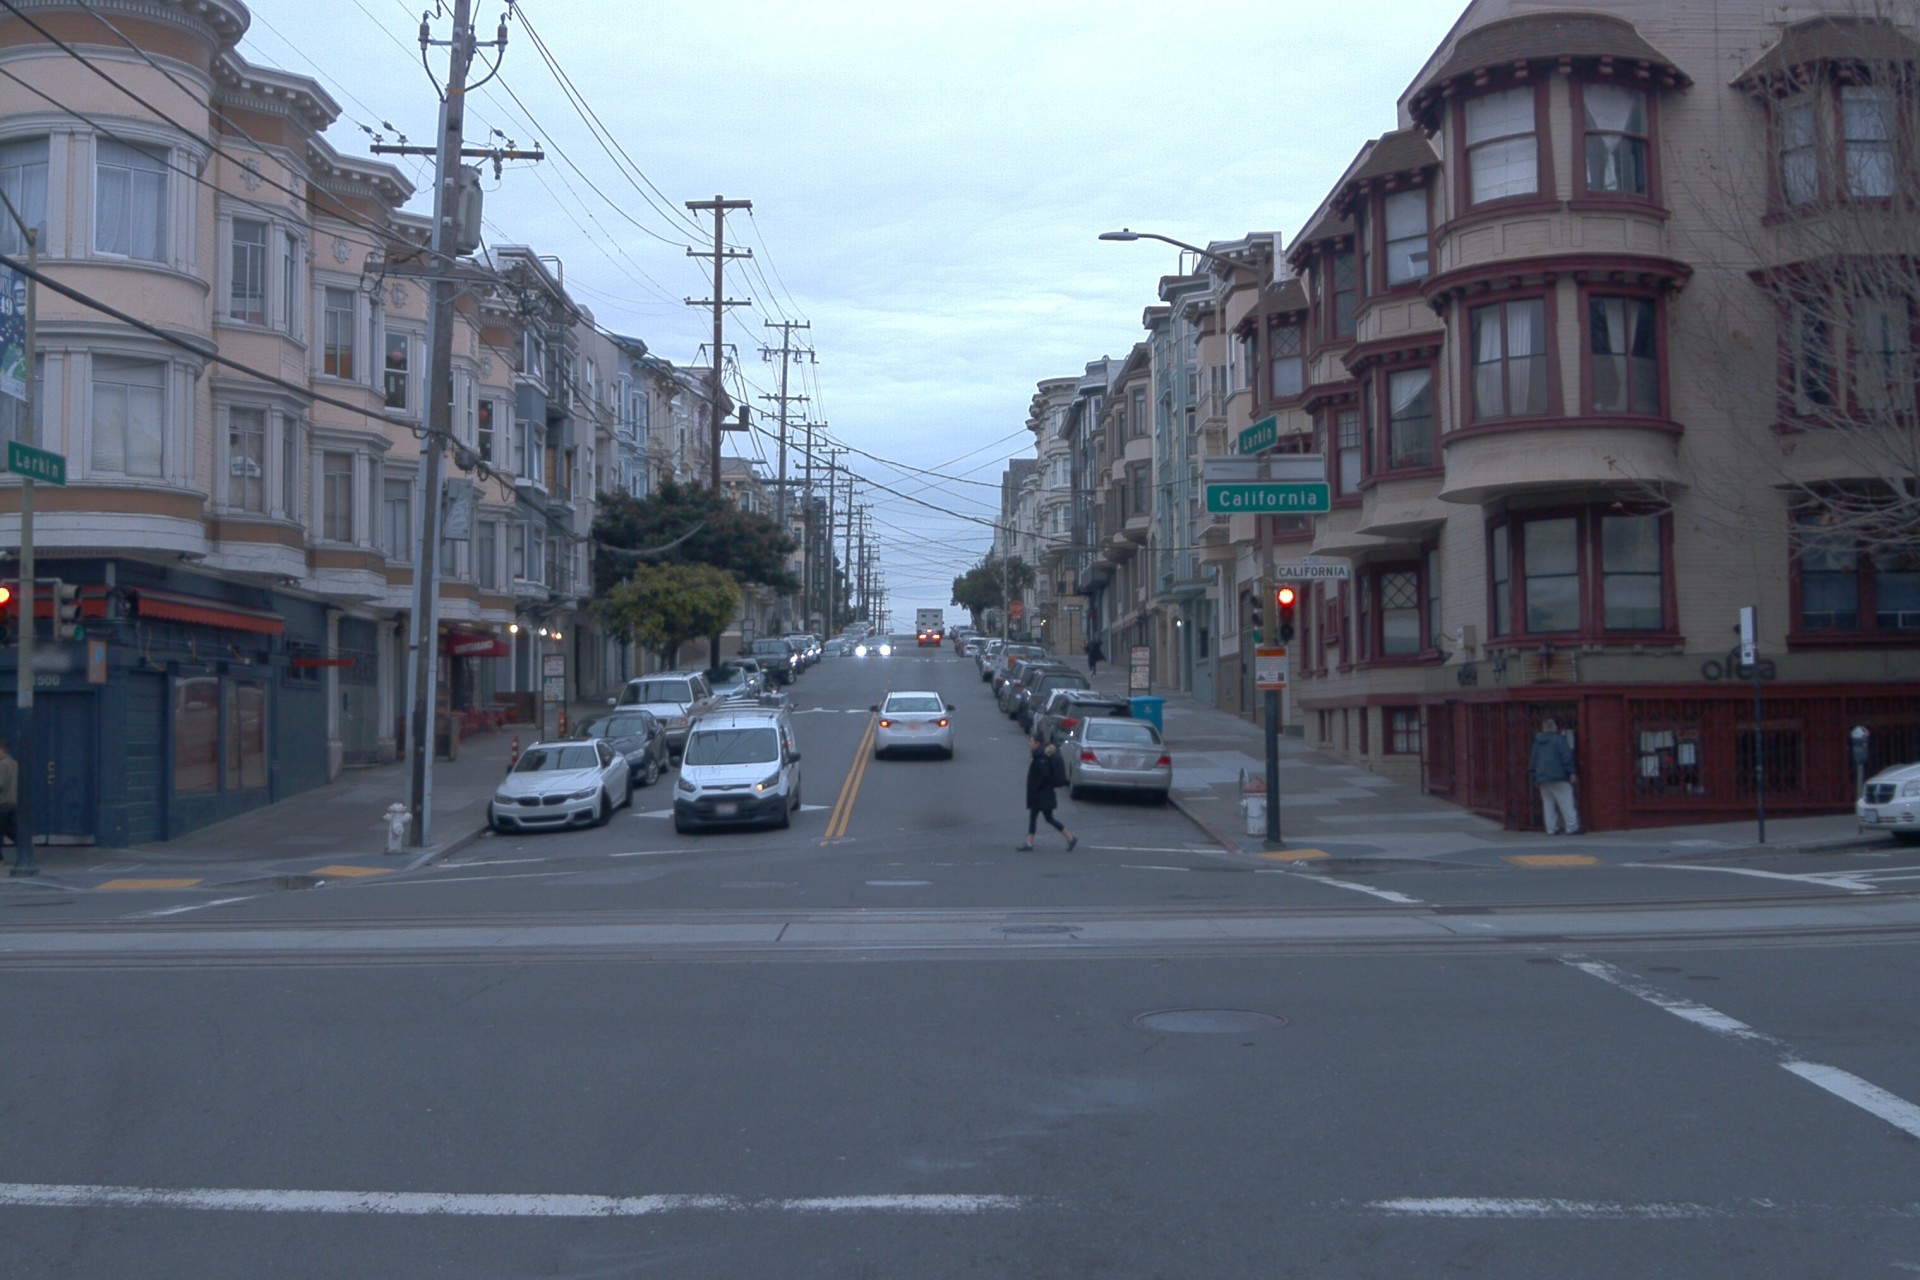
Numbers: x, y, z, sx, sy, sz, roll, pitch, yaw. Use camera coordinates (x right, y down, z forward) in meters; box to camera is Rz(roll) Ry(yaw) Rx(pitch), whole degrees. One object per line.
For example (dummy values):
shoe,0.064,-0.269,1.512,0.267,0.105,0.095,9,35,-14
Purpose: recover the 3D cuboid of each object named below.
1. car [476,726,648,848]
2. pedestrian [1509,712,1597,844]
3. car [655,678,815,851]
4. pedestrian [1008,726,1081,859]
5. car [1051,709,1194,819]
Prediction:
car,-6.813,2.480,35.707,2.150,1.707,4.680,0,1,-1
pedestrian,8.727,2.013,30.267,0.902,1.830,0.919,-1,1,-44
car,-3.627,1.960,33.996,2.196,2.490,4.690,0,1,-1
pedestrian,1.197,2.158,29.259,0.943,1.820,0.722,0,1,-5
car,2.937,2.240,38.182,2.108,1.700,4.470,0,1,-2
